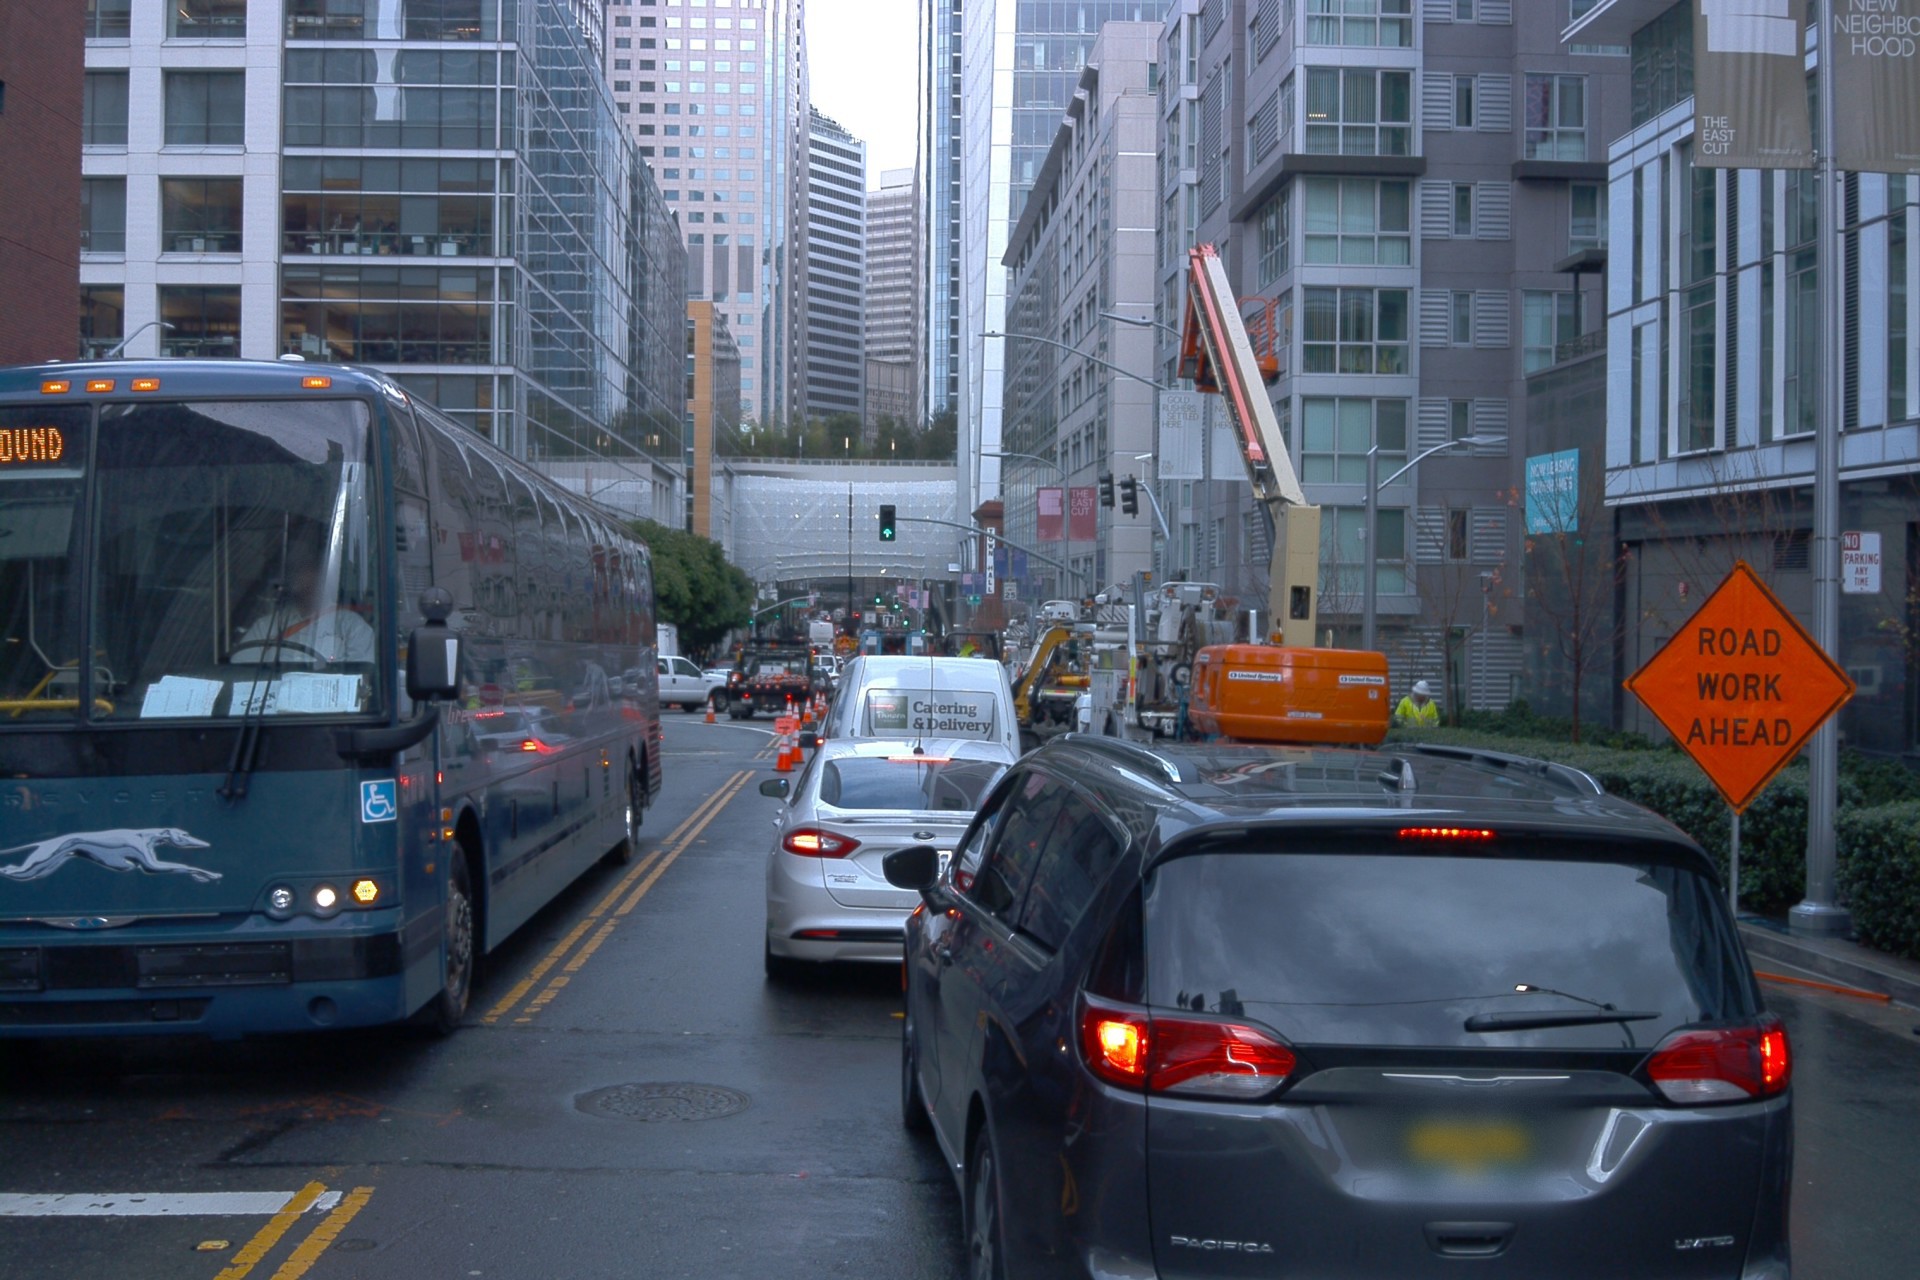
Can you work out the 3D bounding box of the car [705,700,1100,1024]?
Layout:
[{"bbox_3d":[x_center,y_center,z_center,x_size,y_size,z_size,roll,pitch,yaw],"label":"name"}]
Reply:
[{"bbox_3d":[-0.379,1.299,13.826,2.164,1.580,4.901,1,1,-1],"label":"car"}]

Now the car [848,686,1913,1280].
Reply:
[{"bbox_3d":[0.802,1.114,6.811,2.058,1.750,4.787,1,1,-6],"label":"car"}]

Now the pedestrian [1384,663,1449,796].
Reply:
[{"bbox_3d":[6.841,1.326,30.890,0.822,1.949,0.618,1,0,1],"label":"pedestrian"}]

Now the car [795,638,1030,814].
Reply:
[{"bbox_3d":[-0.543,0.744,19.508,1.860,1.470,3.431,1,1,-7],"label":"car"}]
